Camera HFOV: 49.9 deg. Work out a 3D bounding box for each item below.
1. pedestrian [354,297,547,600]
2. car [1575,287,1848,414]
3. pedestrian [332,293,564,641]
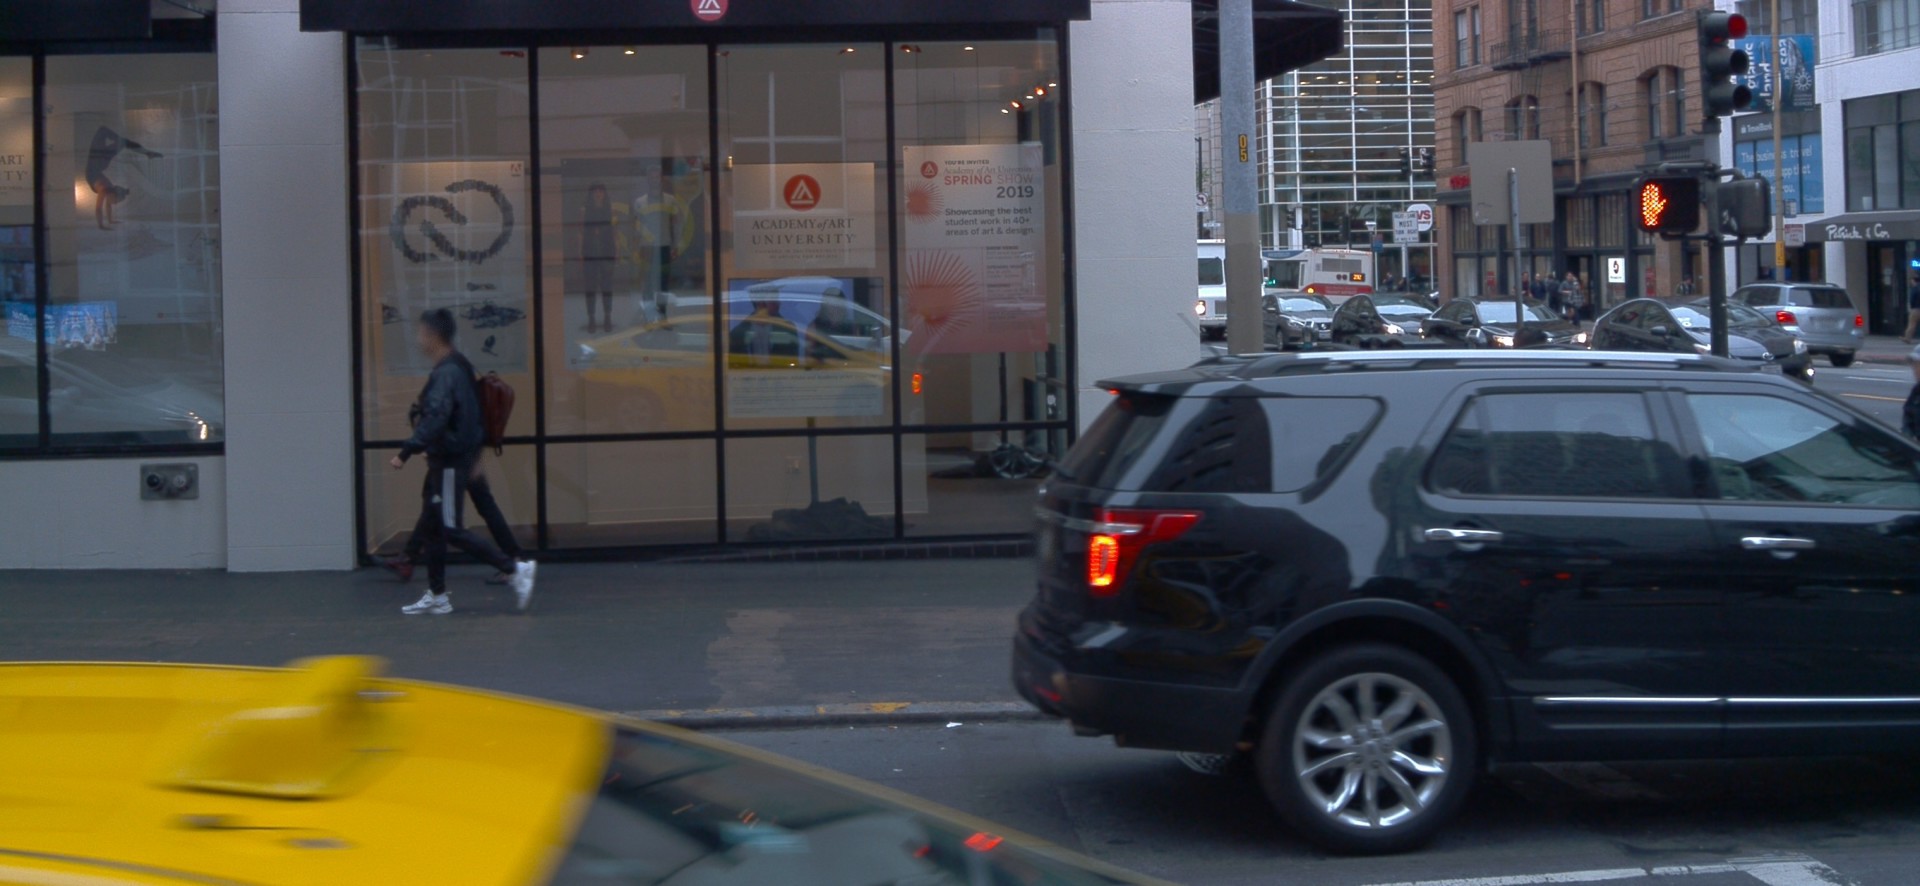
[{"bbox_3d":[-3.361,0.003,13.699,1.132,1.897,0.793,-1,2,-7],"label":"pedestrian"},{"bbox_3d":[11.037,-1.448,30.670,2.064,1.531,4.507,-1,6,-6],"label":"car"},{"bbox_3d":[-3.042,0.108,12.356,1.184,1.967,0.835,0,2,-2],"label":"pedestrian"}]
